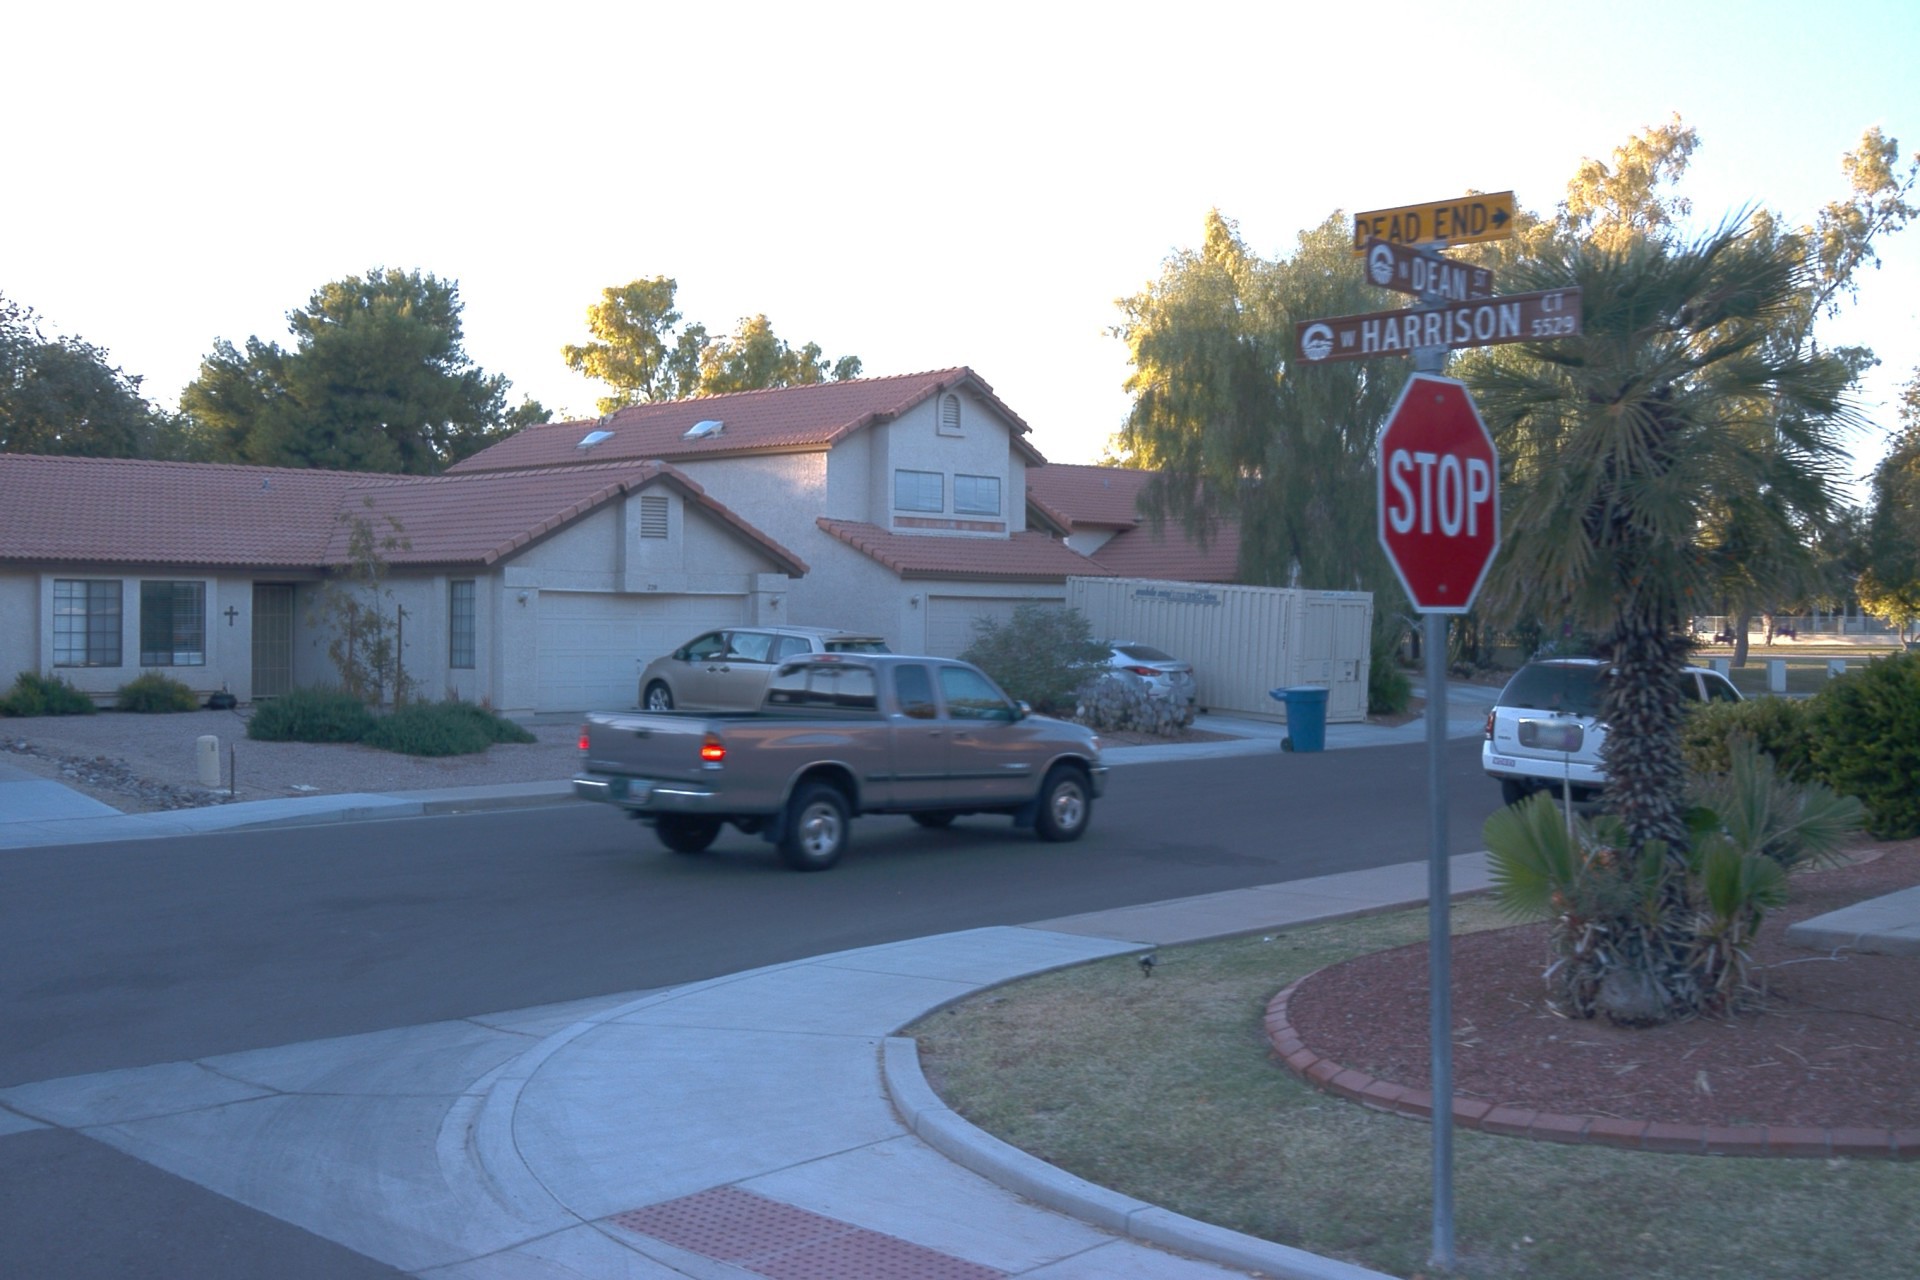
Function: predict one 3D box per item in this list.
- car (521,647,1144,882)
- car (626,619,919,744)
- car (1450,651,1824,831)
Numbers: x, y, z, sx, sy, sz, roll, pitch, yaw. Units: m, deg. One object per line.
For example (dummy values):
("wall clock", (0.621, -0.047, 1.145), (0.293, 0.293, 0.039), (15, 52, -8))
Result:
("car", (-0.963, 0.988, 18.898), (2.243, 1.810, 5.655), (0, -1, 43))
("car", (-3.145, 0.649, 34.039), (4.850, 1.910, 2.173), (0, -1, 45))
("car", (7.783, 1.056, 23.627), (4.704, 1.840, 2.118), (1, -1, -45))
